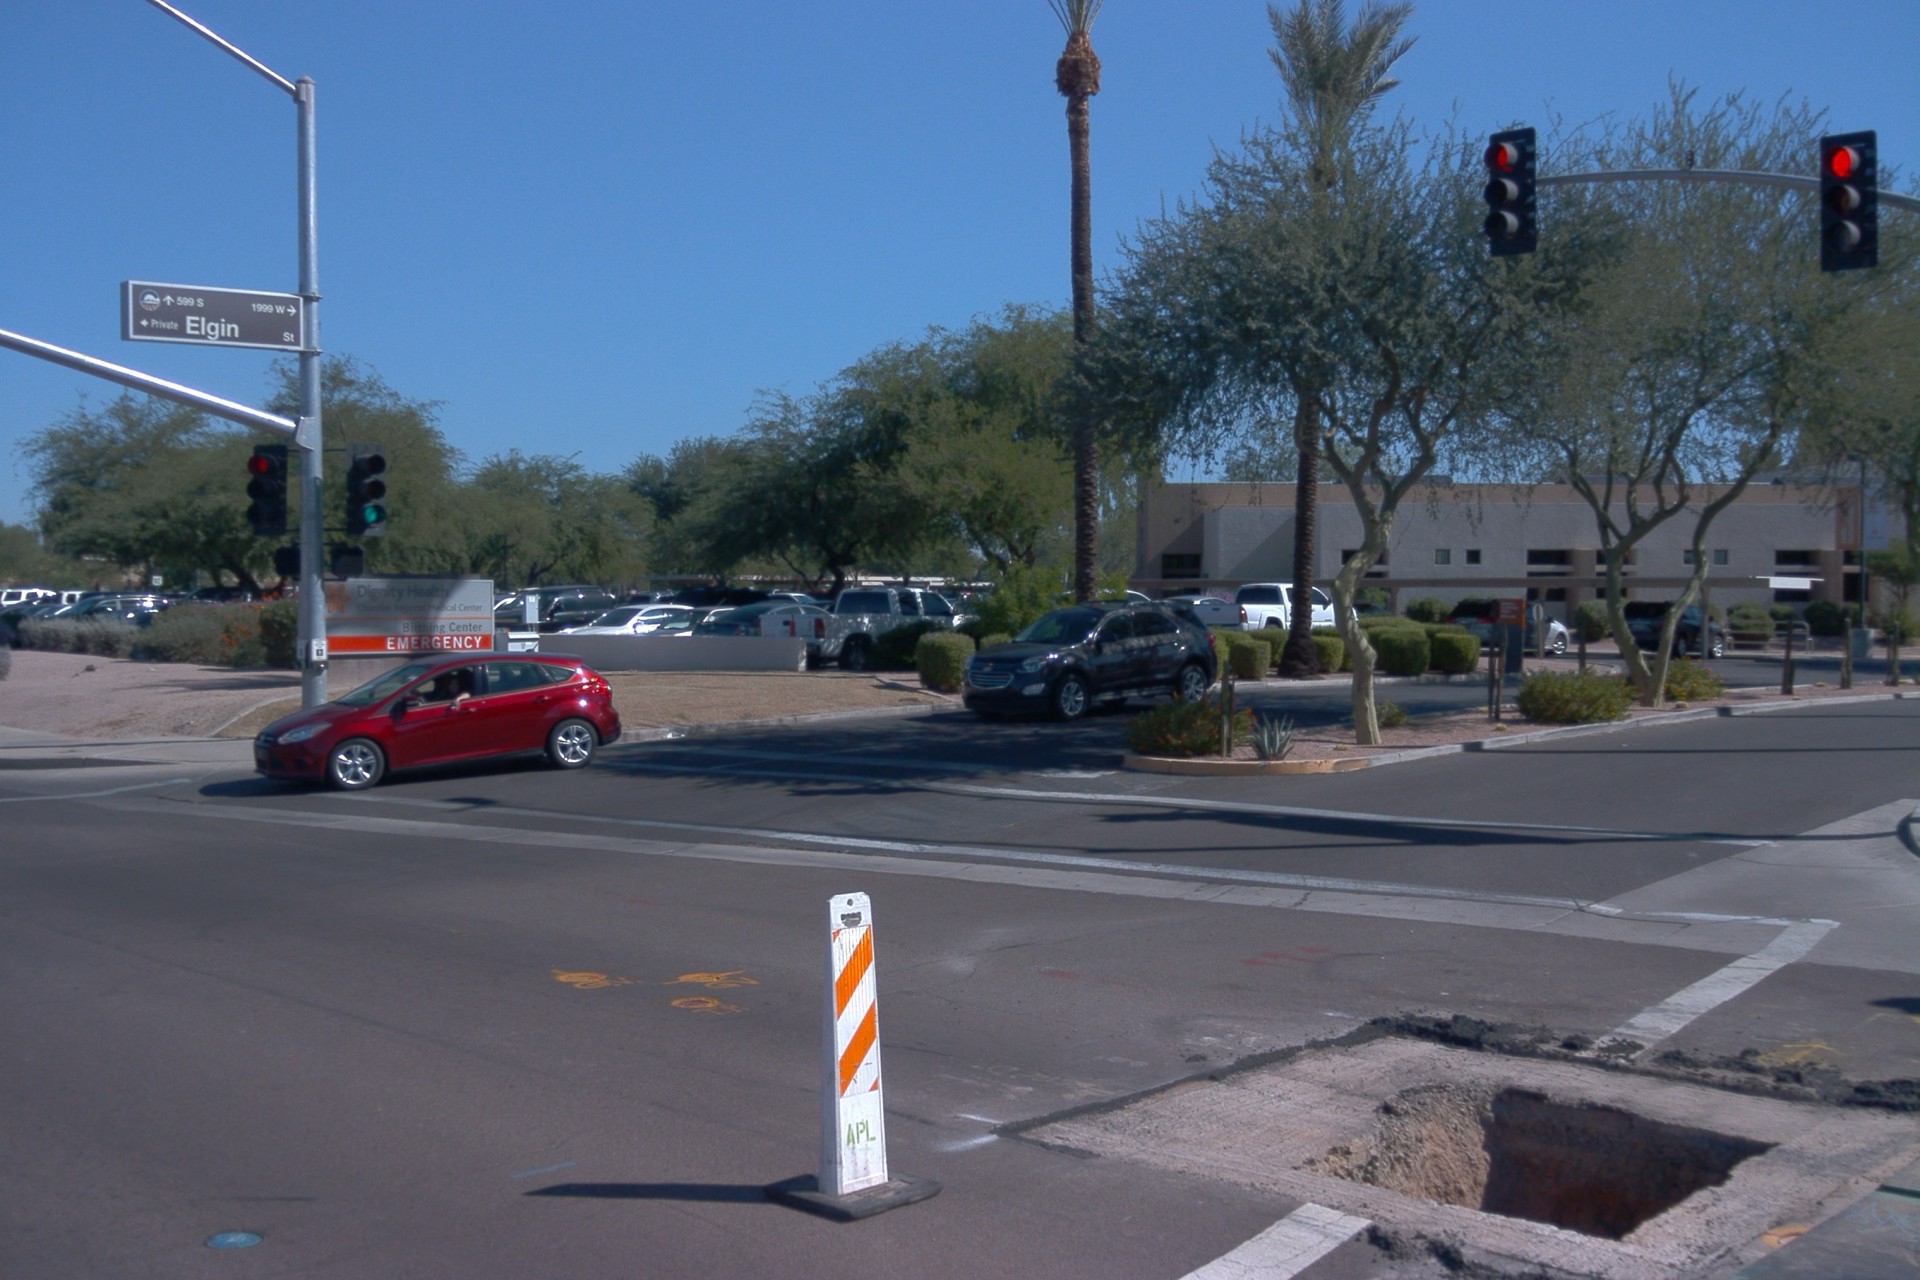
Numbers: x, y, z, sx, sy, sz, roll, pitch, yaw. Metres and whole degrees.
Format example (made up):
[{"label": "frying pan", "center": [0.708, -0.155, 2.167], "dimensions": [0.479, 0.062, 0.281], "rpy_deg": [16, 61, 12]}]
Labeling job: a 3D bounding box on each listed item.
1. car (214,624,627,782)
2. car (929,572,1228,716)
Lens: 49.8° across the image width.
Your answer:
[{"label": "car", "center": [-6.543, 0.733, 25.177], "dimensions": [4.360, 1.750, 2.222], "rpy_deg": [1, 0, -34]}, {"label": "car", "center": [1.899, 0.094, 31.932], "dimensions": [4.680, 2.060, 1.980], "rpy_deg": [1, 0, -45]}]
